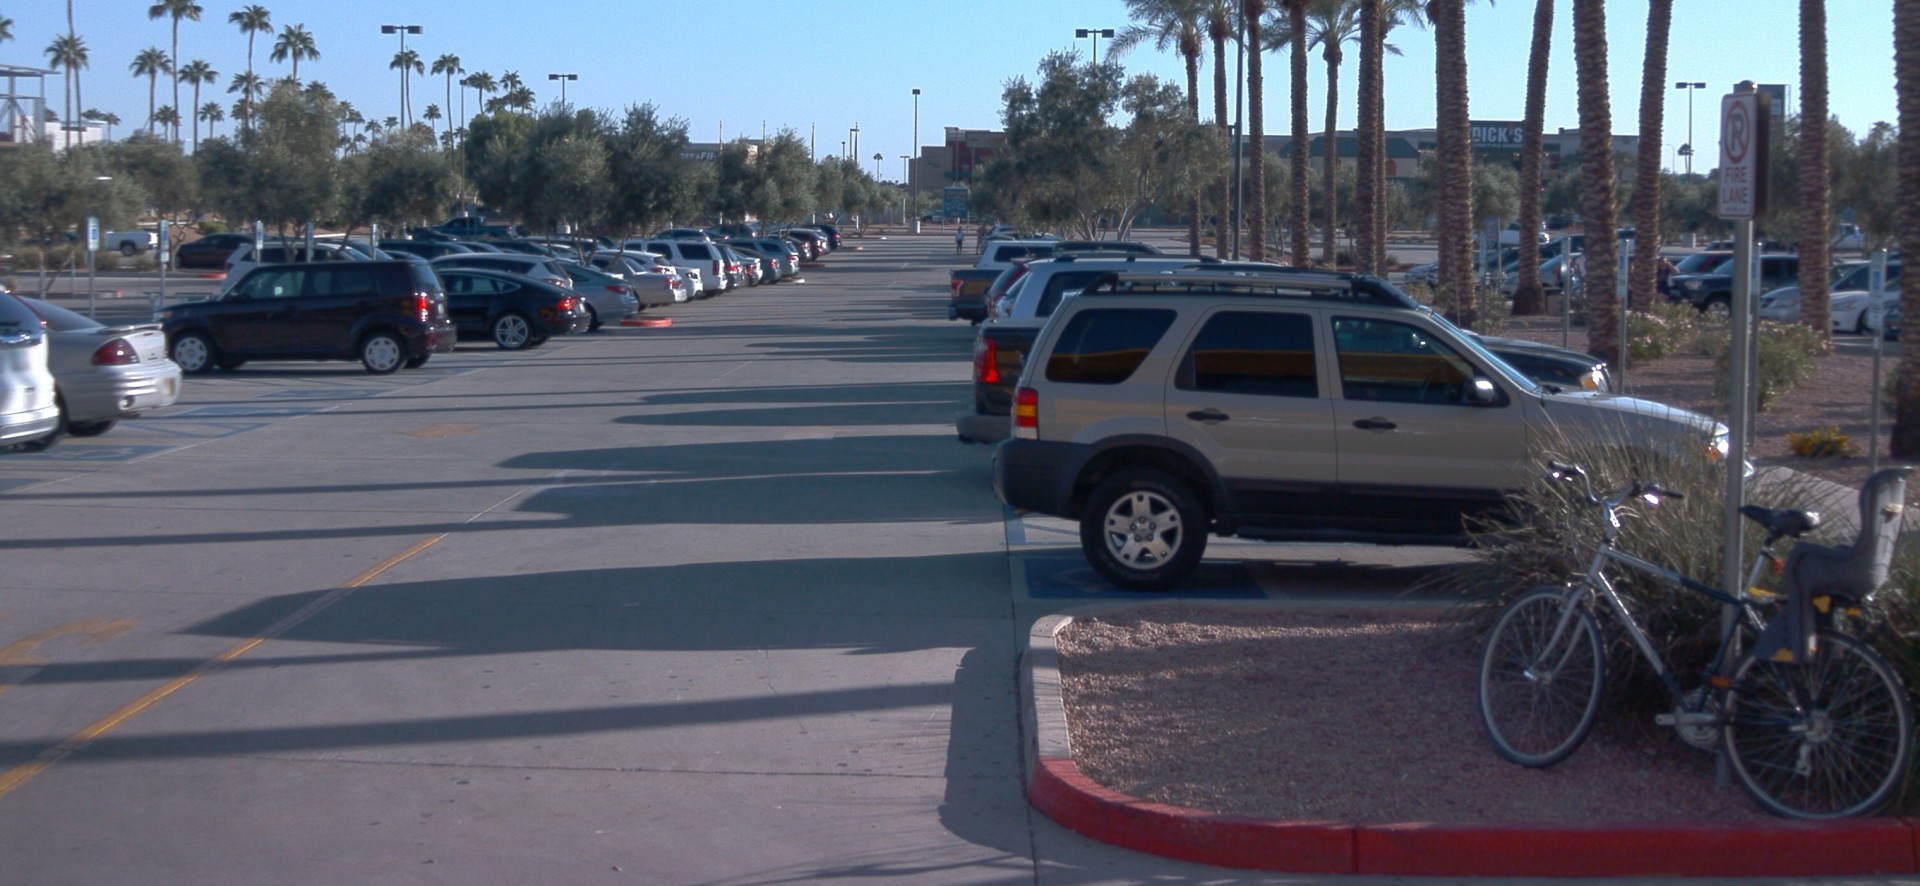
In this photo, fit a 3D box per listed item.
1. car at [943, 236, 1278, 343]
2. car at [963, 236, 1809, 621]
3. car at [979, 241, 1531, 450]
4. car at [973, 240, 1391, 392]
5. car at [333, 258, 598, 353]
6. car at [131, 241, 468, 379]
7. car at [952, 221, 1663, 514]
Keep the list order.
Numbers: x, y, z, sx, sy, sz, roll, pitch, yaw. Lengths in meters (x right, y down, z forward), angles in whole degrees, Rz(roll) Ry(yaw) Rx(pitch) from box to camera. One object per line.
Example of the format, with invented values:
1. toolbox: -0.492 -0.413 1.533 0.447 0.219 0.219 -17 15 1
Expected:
1. car: 2.743 -2.926 39.074 6.084 1.845 2.452 1 4 -1
2. car: 2.431 -0.207 12.466 4.569 1.986 2.008 2 3 7
3. car: 2.725 -1.009 19.927 4.916 1.765 2.428 1 4 4
4. car: 2.742 -1.667 26.499 5.084 1.755 2.150 1 4 1
5. car: -8.563 -2.417 36.210 4.169 1.516 1.898 1 4 -2
6. car: -9.306 -1.914 29.479 4.169 1.816 1.897 1 3 -2
7. car: 2.657 -0.695 16.886 5.349 2.135 2.267 1 4 1
